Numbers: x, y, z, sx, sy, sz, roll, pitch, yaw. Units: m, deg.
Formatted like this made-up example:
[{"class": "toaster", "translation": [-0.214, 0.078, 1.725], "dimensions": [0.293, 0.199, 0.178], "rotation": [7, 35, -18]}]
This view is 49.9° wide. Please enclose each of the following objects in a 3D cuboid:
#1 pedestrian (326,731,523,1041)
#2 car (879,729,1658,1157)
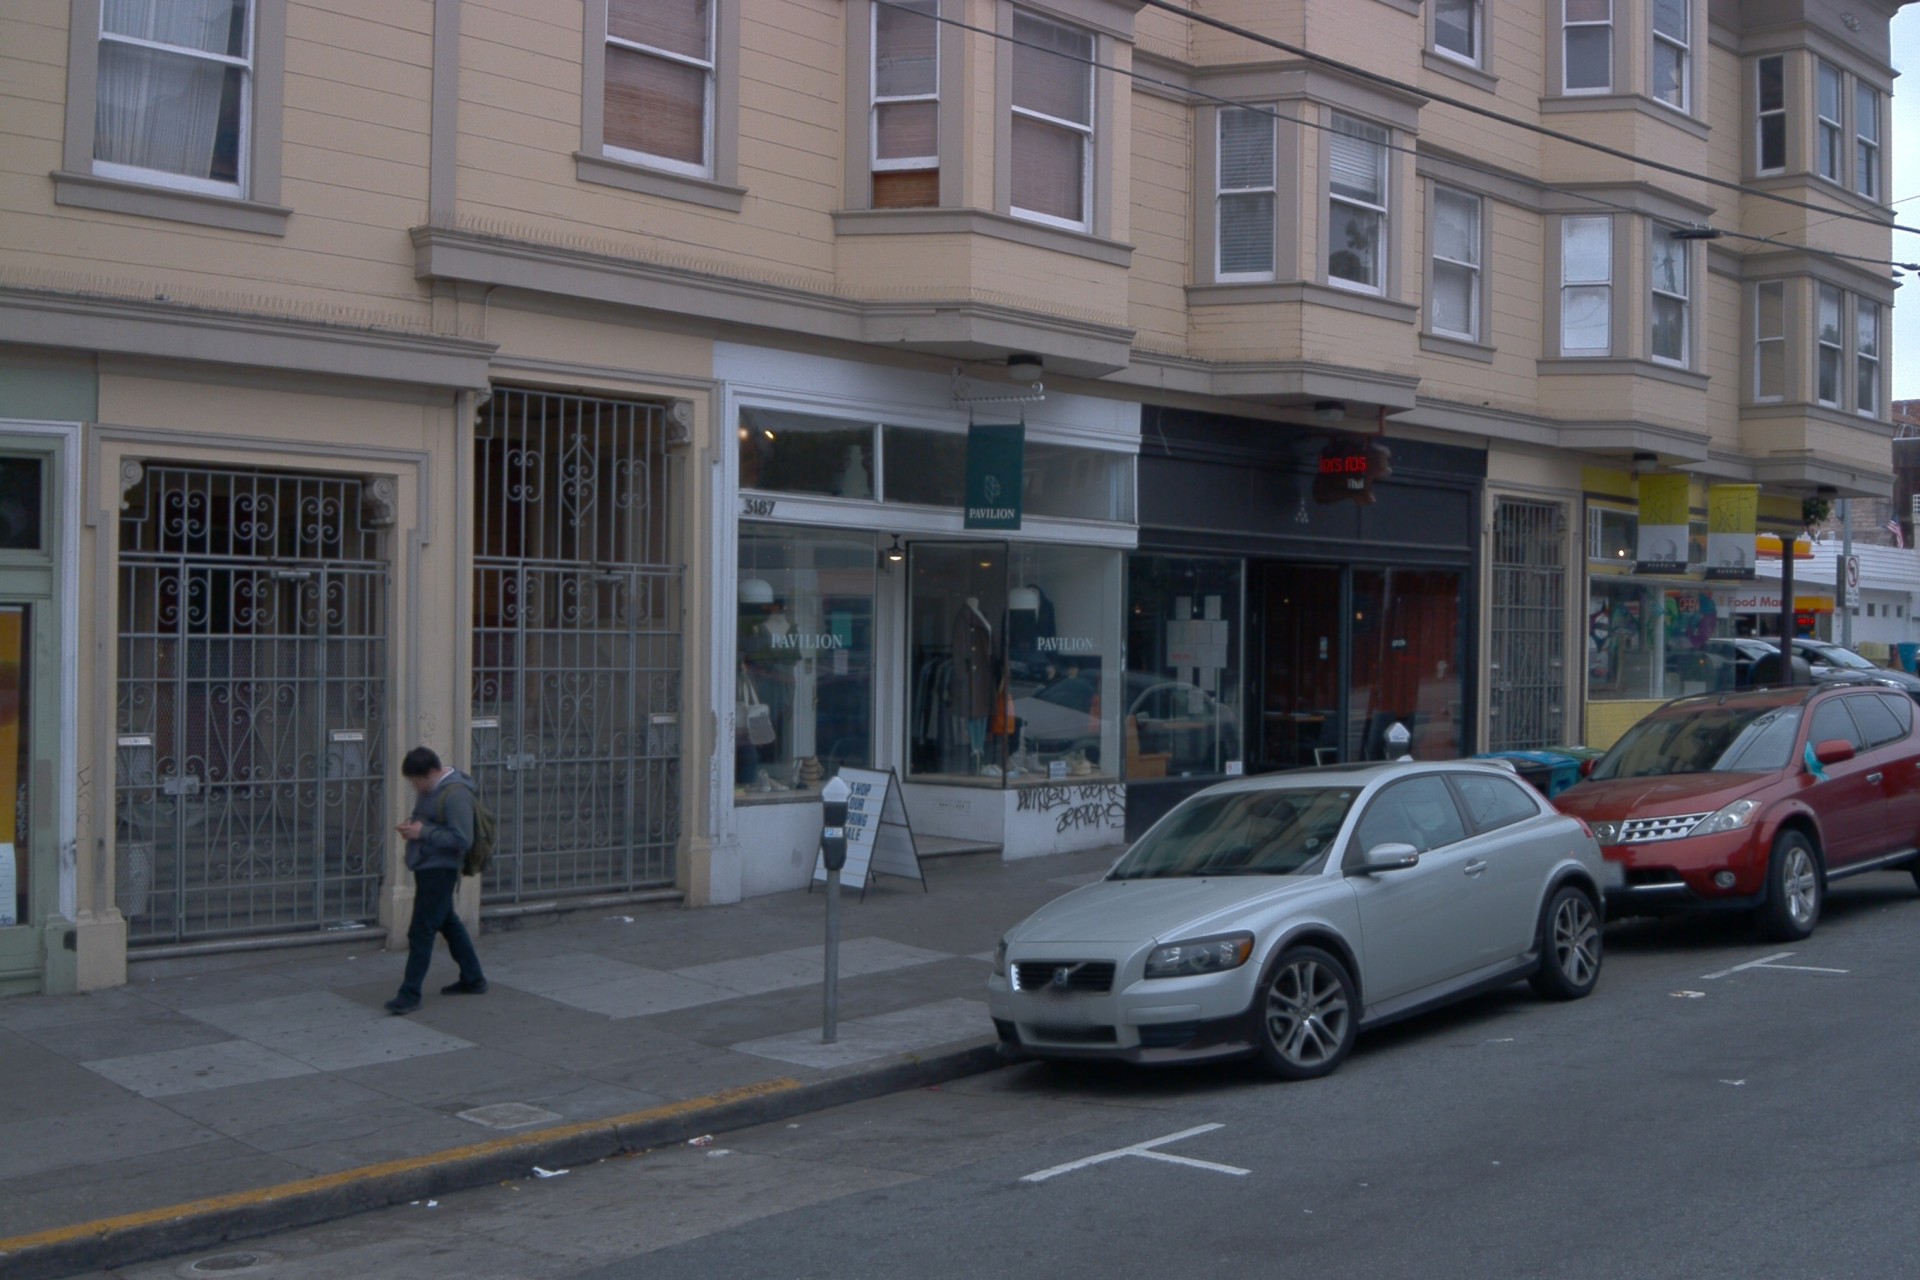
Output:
[{"class": "pedestrian", "translation": [-3.013, 1.348, 11.624], "dimensions": [0.786, 1.603, 0.748], "rotation": [1, 1, 41]}, {"class": "car", "translation": [1.827, 1.414, 11.214], "dimensions": [2.061, 1.590, 4.273], "rotation": [1, 1, 44]}]
